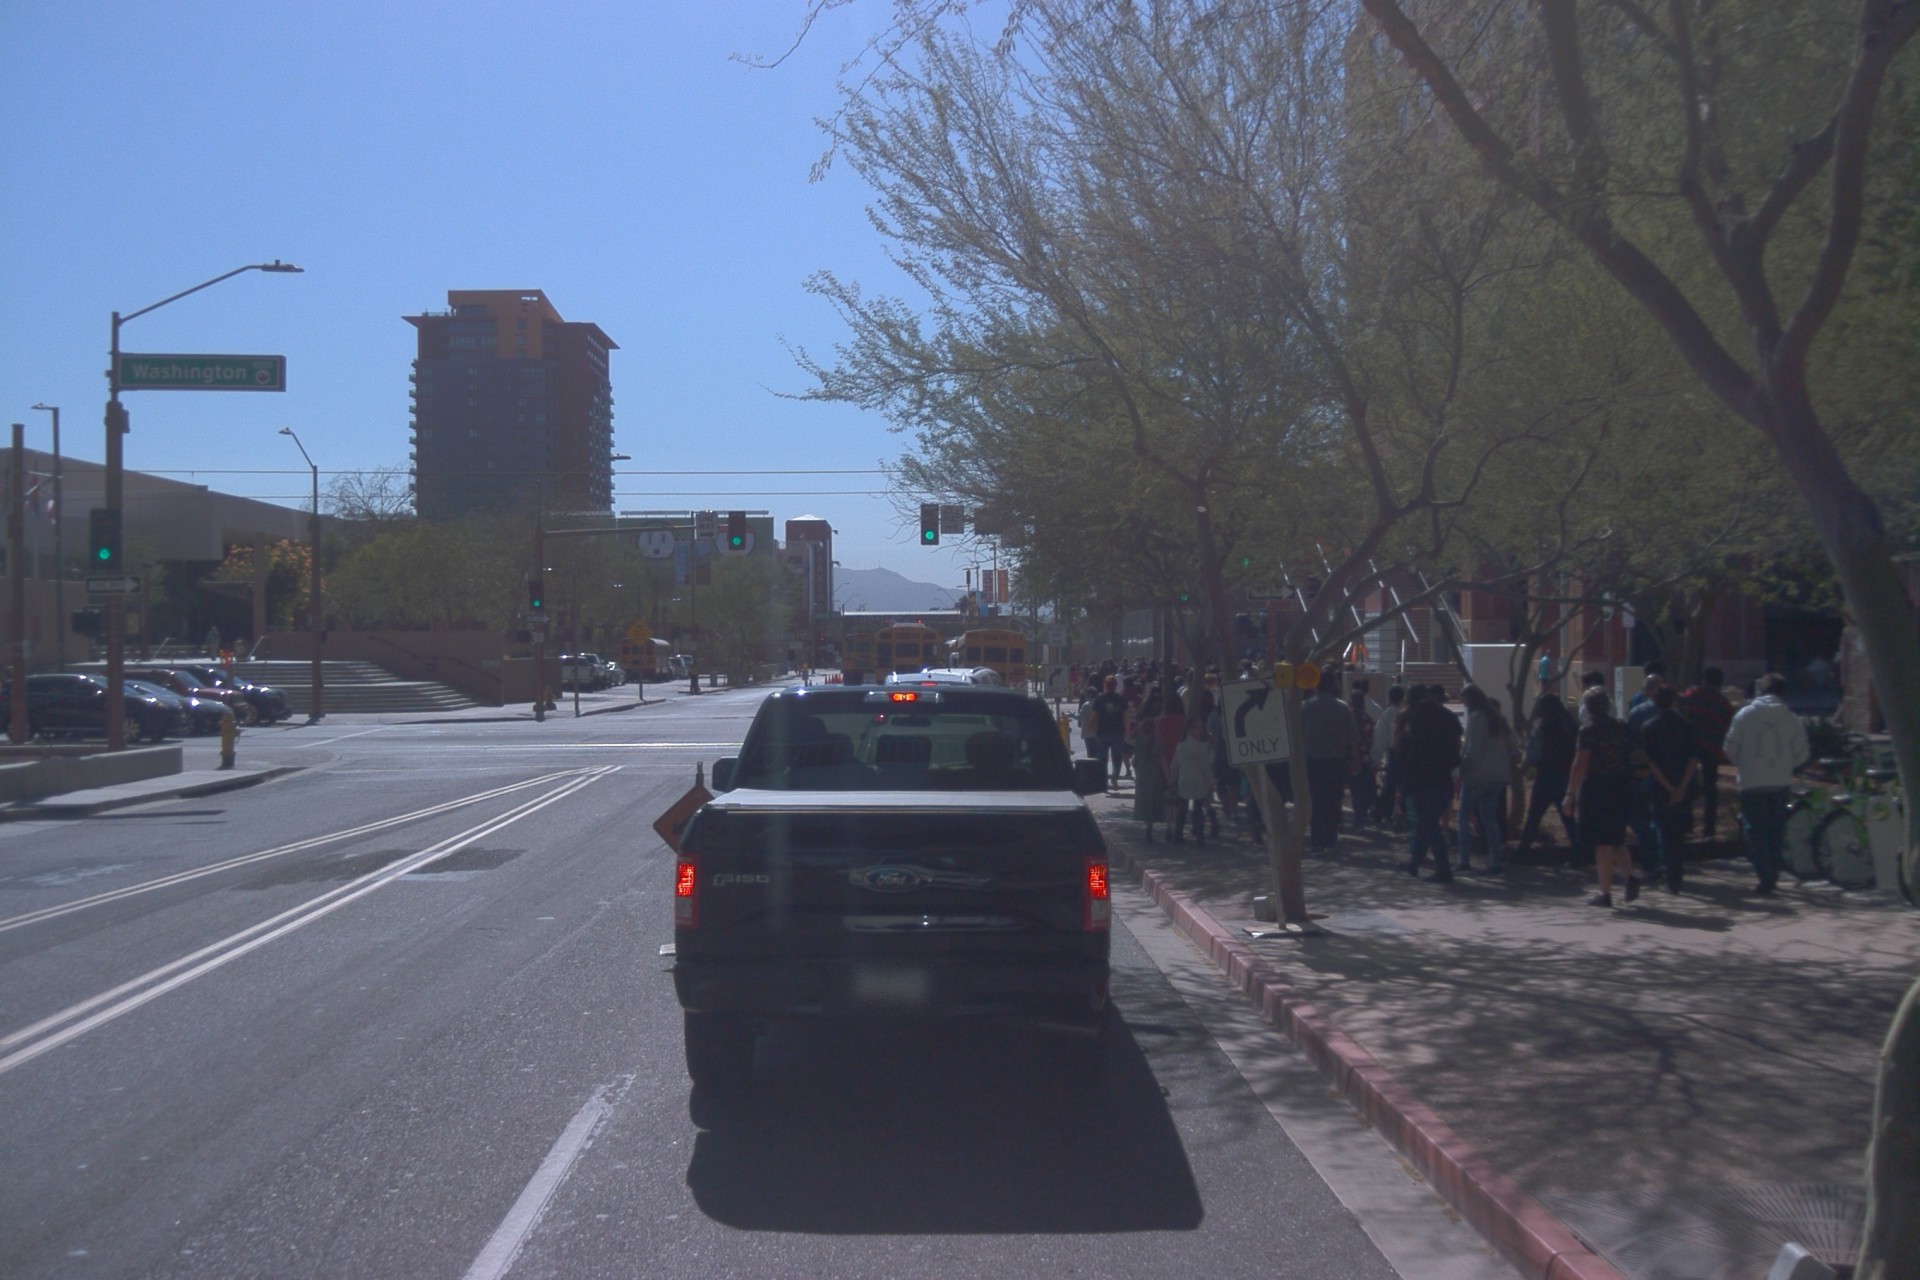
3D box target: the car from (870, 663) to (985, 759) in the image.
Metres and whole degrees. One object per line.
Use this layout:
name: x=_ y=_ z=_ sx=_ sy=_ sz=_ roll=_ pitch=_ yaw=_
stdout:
car: x=-0.478 y=1.118 z=34.105 sx=1.753 sy=1.430 sz=4.270 roll=0 pitch=0 yaw=1

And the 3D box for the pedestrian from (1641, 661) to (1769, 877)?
pedestrian: x=6.661 y=1.136 z=18.621 sx=0.835 sy=1.880 sz=0.792 roll=0 pitch=0 yaw=-2

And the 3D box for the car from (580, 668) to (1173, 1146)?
car: x=-0.331 y=1.158 z=11.416 sx=2.487 sy=1.950 sz=5.329 roll=0 pitch=0 yaw=0

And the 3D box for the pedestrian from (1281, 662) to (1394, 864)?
pedestrian: x=3.635 y=1.167 z=20.077 sx=0.959 sy=1.900 sz=0.880 roll=0 pitch=0 yaw=3
